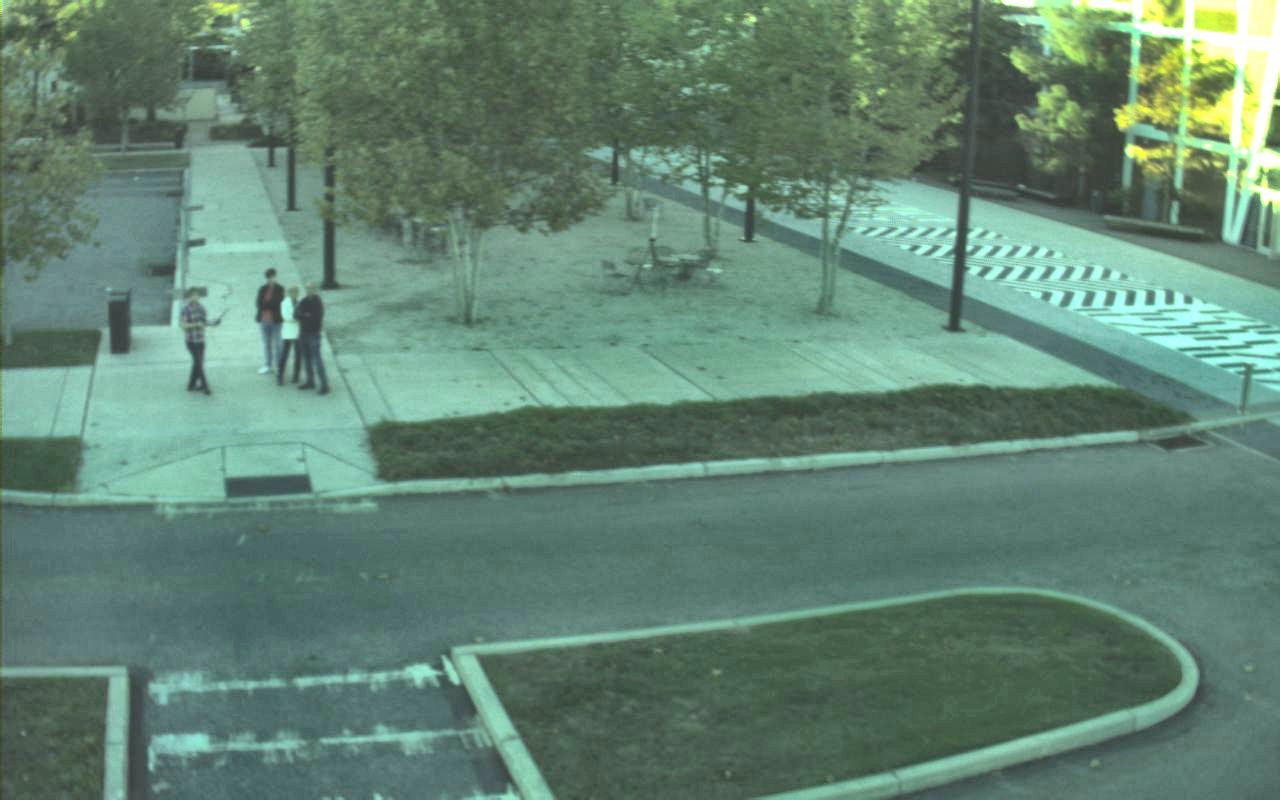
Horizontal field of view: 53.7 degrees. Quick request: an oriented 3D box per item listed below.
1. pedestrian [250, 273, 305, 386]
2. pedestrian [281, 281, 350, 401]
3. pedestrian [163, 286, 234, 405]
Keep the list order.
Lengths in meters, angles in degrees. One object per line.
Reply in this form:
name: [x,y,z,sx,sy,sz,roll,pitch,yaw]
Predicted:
pedestrian: [-6.357,-1.213,21.292,0.799,1.774,0.754,-7,16,-20]
pedestrian: [-5.404,-0.969,20.446,0.818,1.852,0.787,0,15,5]
pedestrian: [-7.359,-0.874,19.918,0.834,1.816,0.794,0,15,3]
